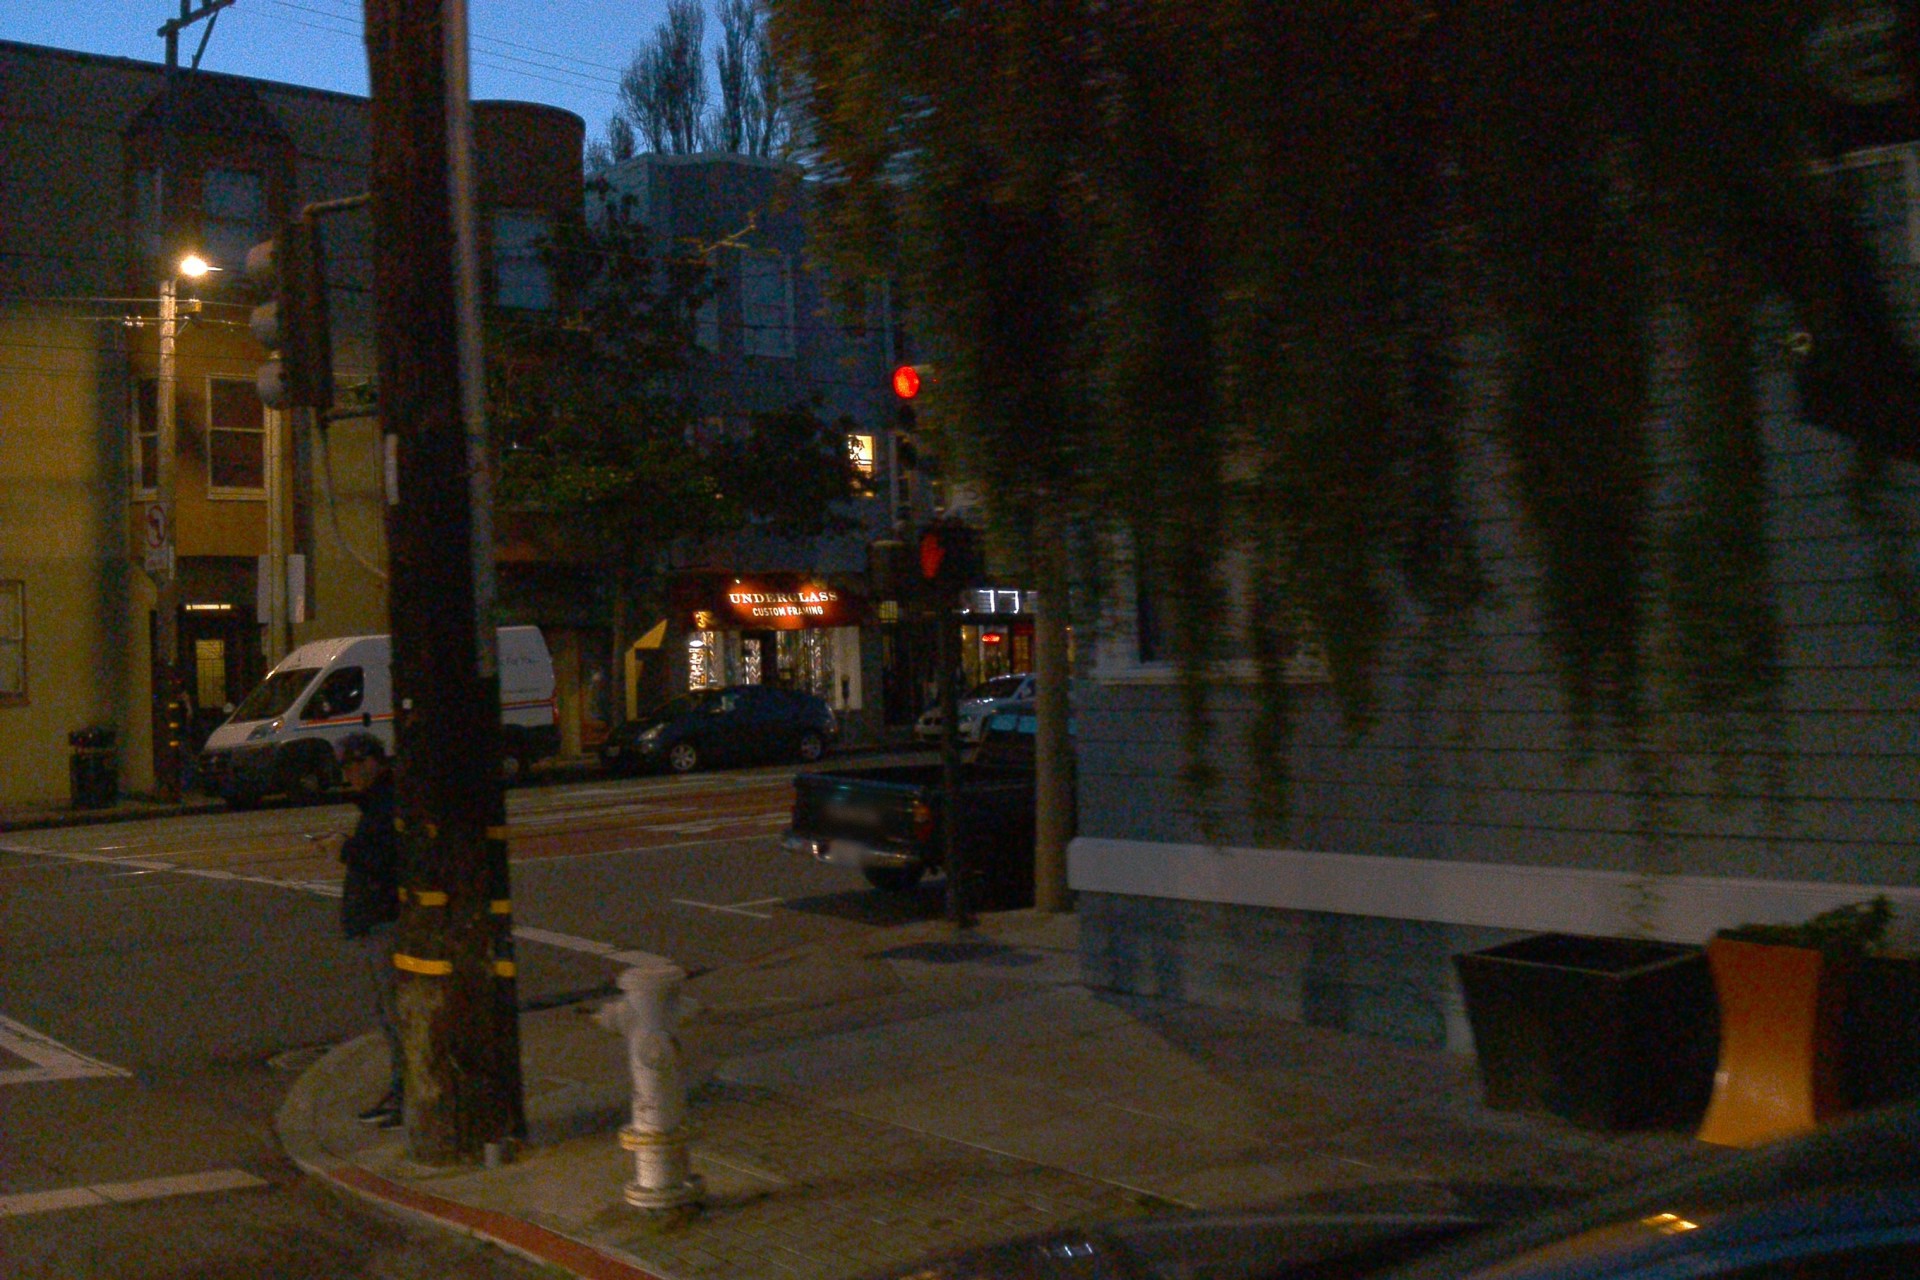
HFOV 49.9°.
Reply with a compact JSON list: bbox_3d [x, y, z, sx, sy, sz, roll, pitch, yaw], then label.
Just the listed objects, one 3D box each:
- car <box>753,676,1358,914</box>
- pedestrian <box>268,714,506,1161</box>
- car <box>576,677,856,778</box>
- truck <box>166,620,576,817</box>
[{"bbox_3d":[0.952,1.172,17.482,5.176,1.590,2.052,-1,1,-42],"label":"car"},{"bbox_3d":[-2.601,1.292,9.373,0.761,1.870,0.758,-1,1,-44],"label":"pedestrian"},{"bbox_3d":[-4.201,1.478,36.037,4.511,1.520,2.027,-1,1,-43],"label":"car"},{"bbox_3d":[-8.872,1.069,31.519,2.515,2.730,5.482,1,1,44],"label":"truck"}]
